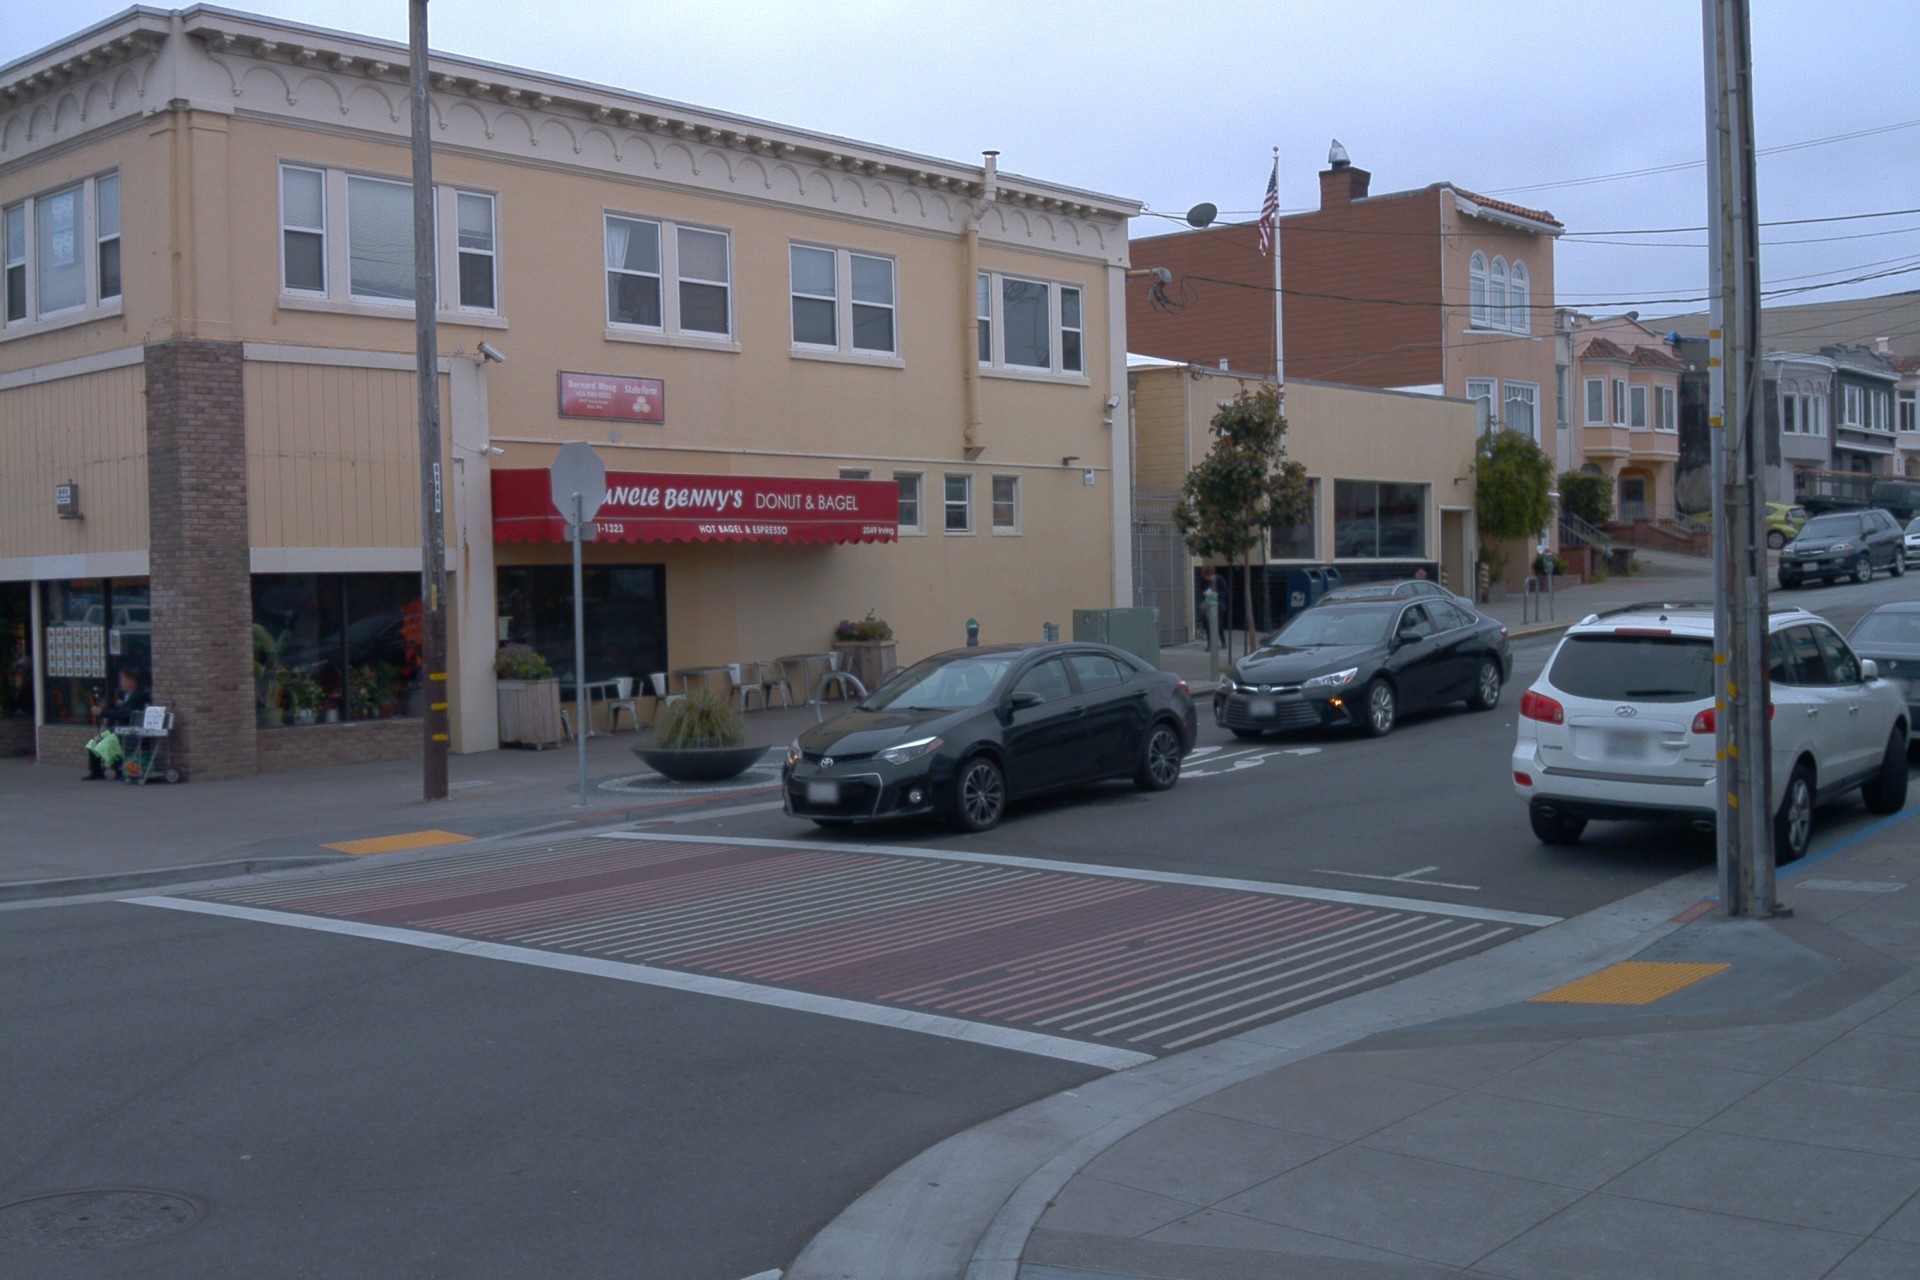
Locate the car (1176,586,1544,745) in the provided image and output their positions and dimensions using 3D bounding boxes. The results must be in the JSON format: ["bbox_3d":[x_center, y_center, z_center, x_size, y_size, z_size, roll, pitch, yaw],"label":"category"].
[{"bbox_3d":[4.735,0.238,23.892,2.082,1.644,4.864,0,1,40],"label":"car"}]

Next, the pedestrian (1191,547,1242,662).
[{"bbox_3d":[4.561,-0.624,36.722,0.738,2.018,0.671,0,1,25],"label":"pedestrian"}]

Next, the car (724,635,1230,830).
[{"bbox_3d":[0.289,0.694,18.010,2.066,1.440,4.541,0,1,38],"label":"car"}]

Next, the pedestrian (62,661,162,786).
[{"bbox_3d":[-9.706,0.941,23.647,0.878,1.374,0.735,1,1,41],"label":"pedestrian"}]
